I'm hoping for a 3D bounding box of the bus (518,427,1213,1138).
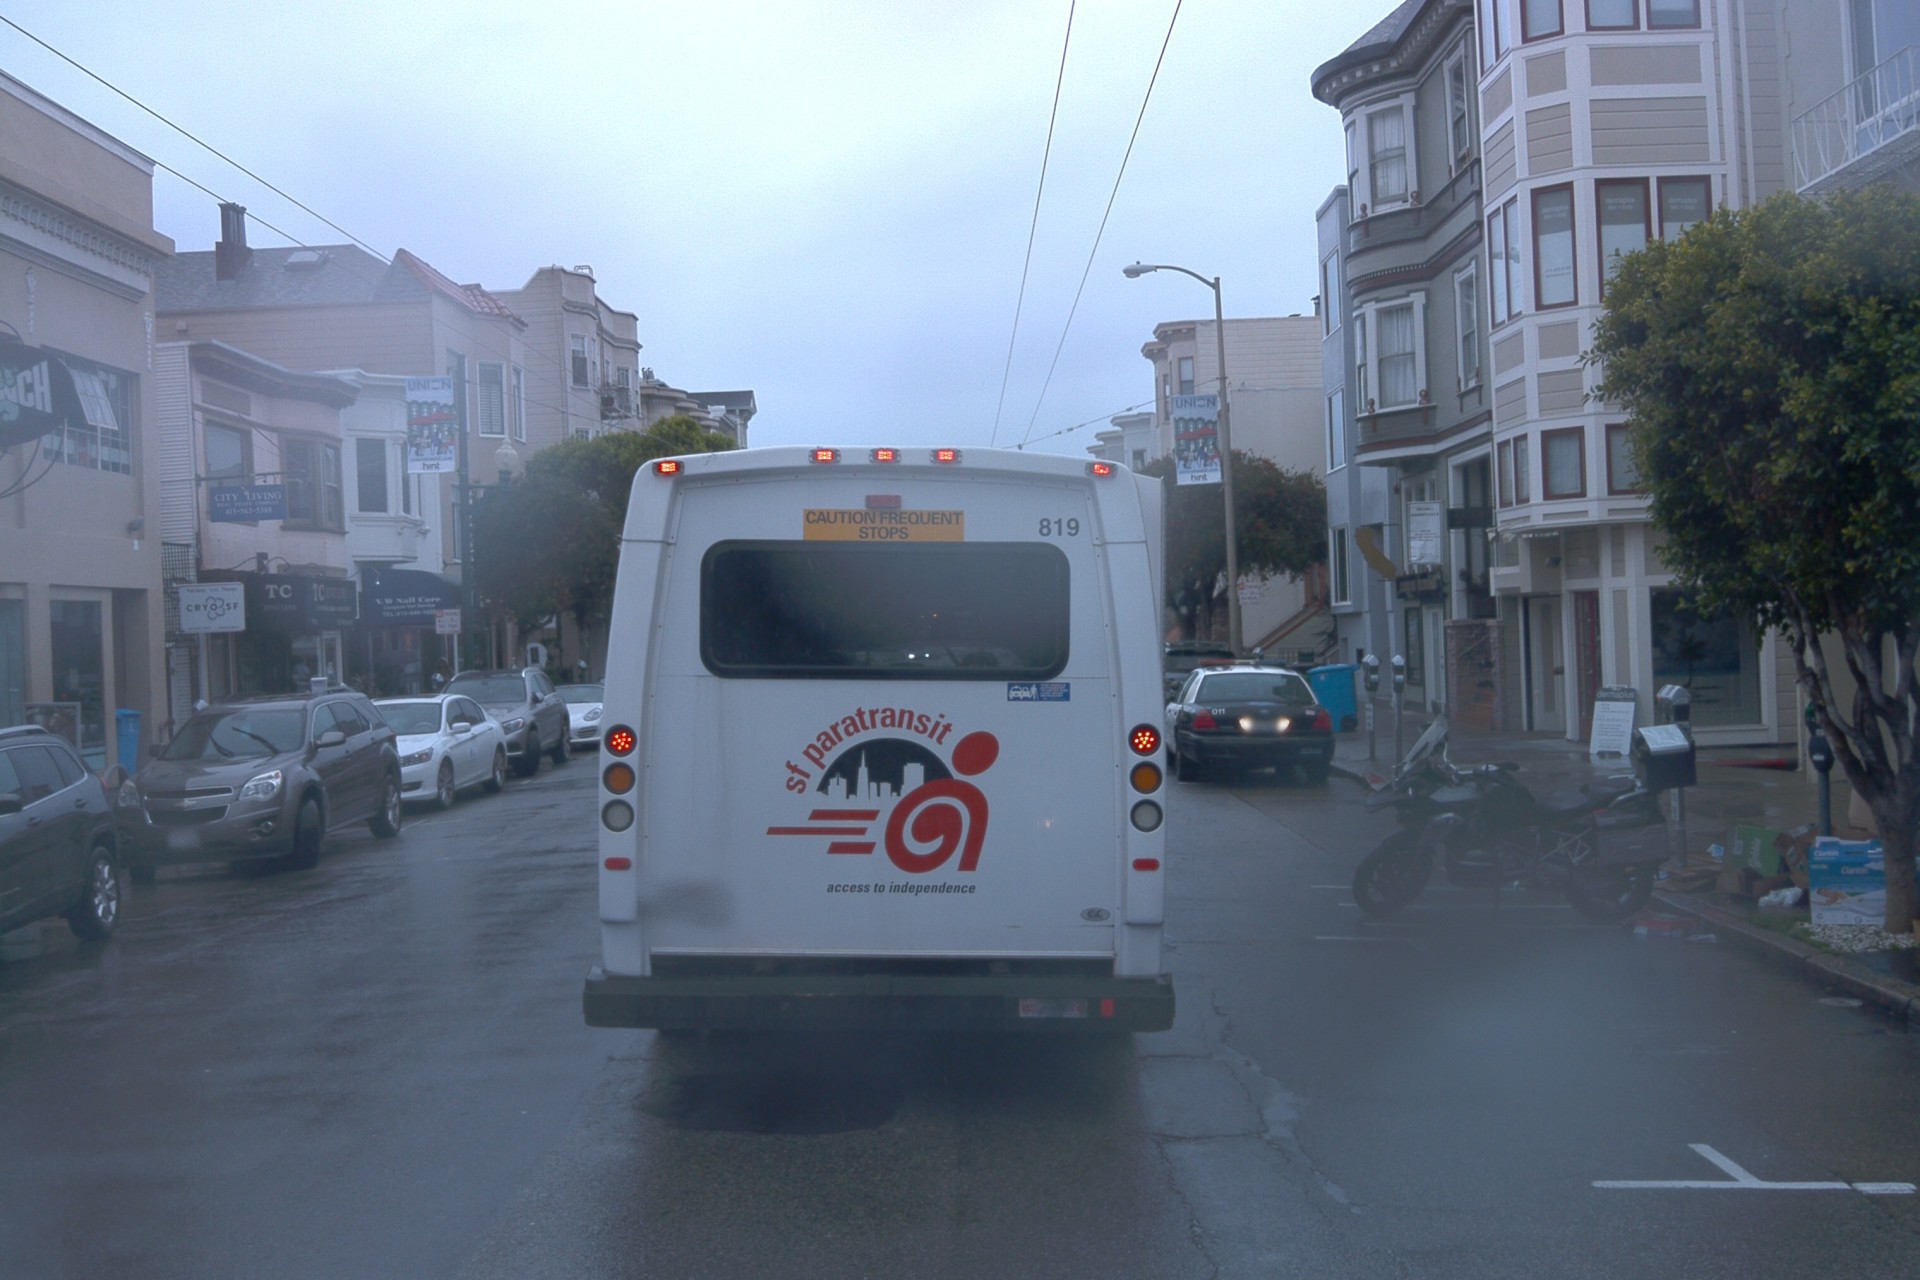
[{"bbox_3d":[-0.366,0.542,11.698,2.787,2.850,6.705,1,1,0],"label":"bus"}]

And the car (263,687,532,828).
[{"bbox_3d":[-7.446,1.501,27.868,2.131,1.540,5.131,1,1,1],"label":"car"}]

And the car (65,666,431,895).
[{"bbox_3d":[-7.169,1.323,21.380,2.065,1.960,4.992,1,1,0],"label":"car"}]

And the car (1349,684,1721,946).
[{"bbox_3d":[3.916,1.161,14.249,2.374,1.650,1.013,1,1,12],"label":"car"}]

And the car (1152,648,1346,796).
[{"bbox_3d":[3.748,1.003,27.674,2.108,1.690,5.363,1,1,3],"label":"car"}]

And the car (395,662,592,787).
[{"bbox_3d":[-7.464,1.299,33.504,2.149,1.760,4.917,1,1,-1],"label":"car"}]
